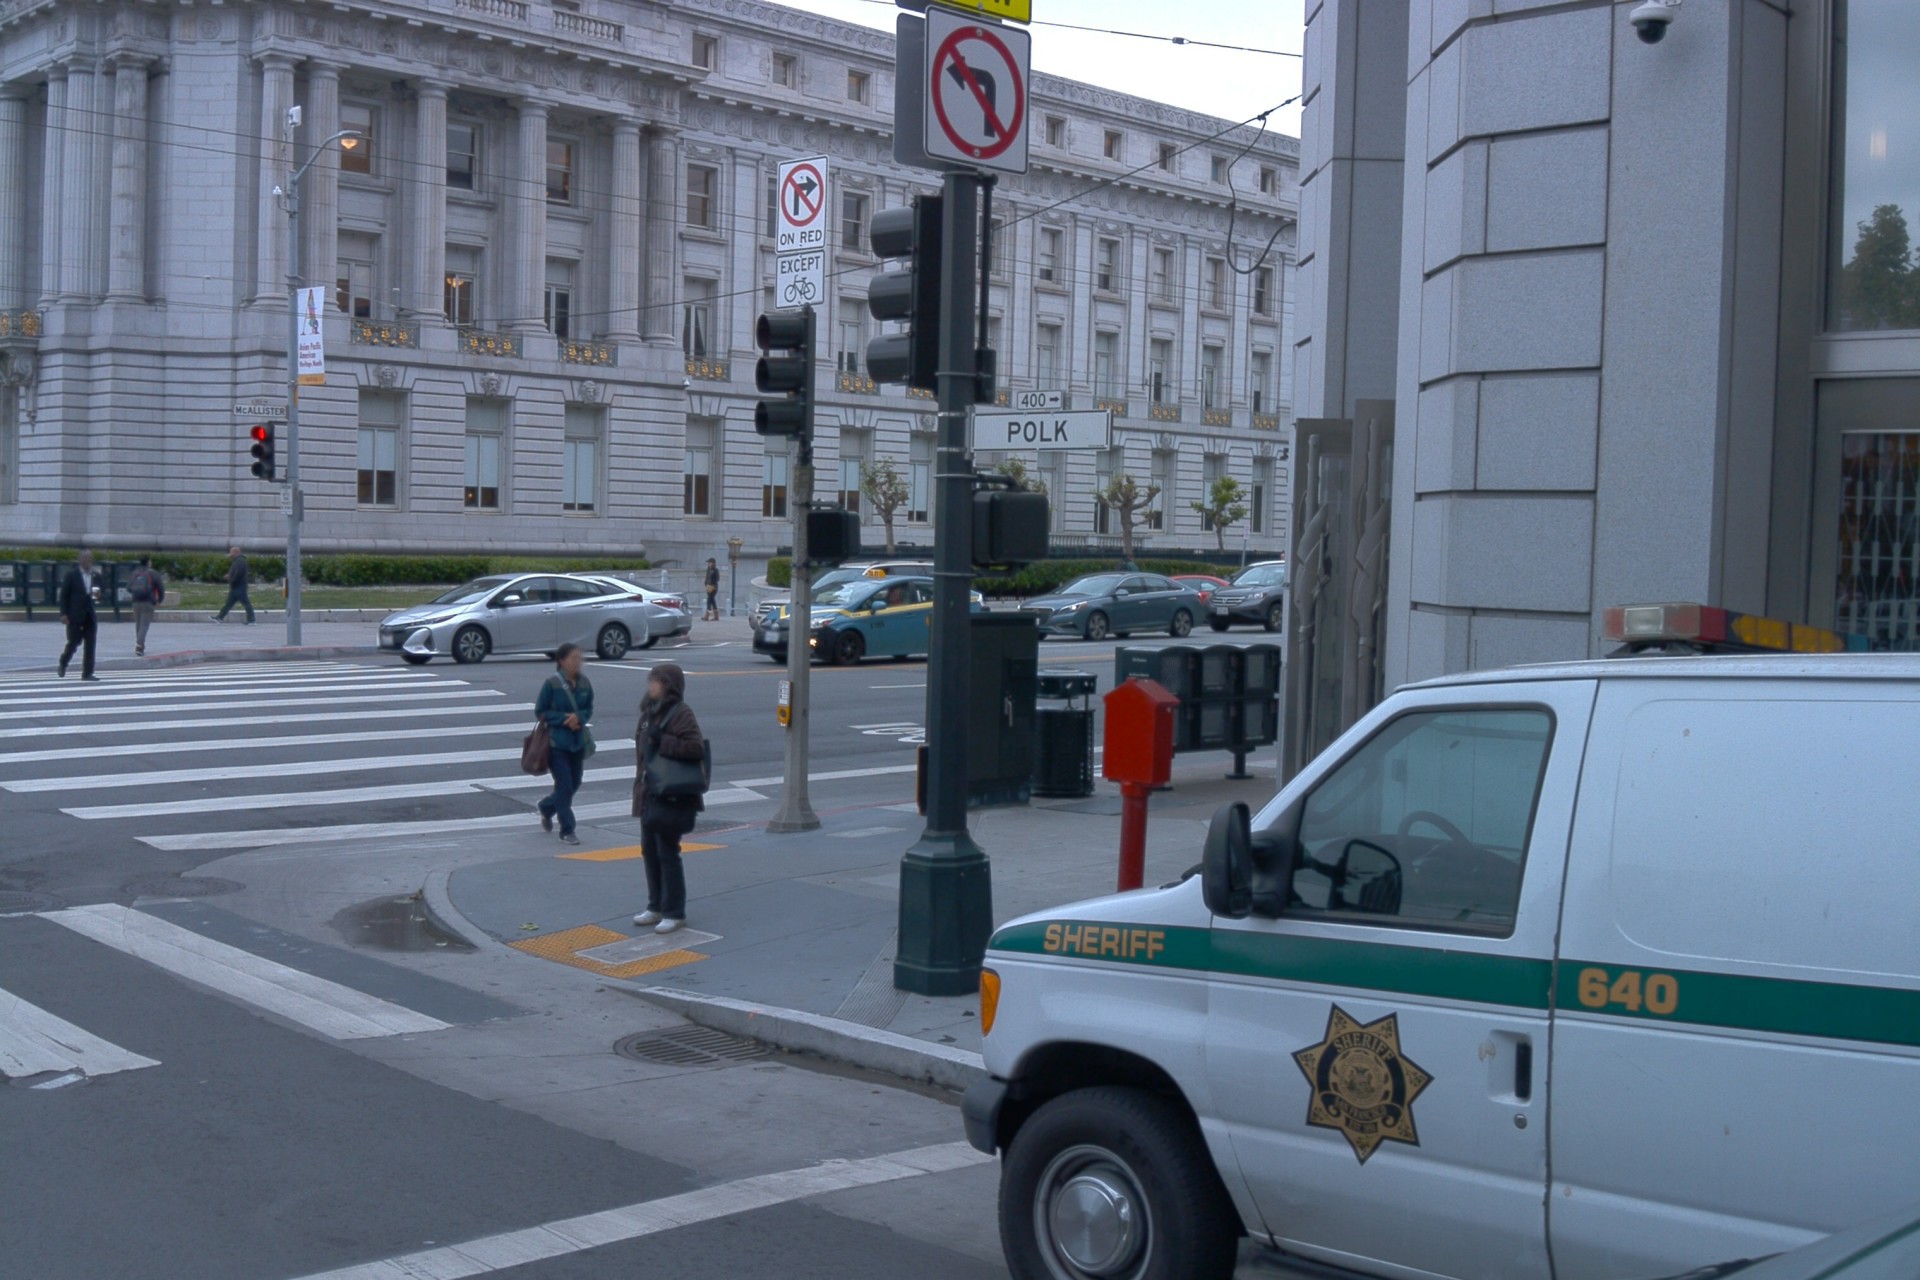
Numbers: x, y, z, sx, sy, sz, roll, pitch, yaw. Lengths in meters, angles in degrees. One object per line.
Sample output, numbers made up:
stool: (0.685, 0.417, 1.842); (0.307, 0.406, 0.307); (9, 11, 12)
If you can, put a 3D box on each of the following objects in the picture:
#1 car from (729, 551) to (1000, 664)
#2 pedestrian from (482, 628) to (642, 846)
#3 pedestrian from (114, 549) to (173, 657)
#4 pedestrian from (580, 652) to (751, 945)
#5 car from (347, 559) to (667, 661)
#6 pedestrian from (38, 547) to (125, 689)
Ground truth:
car: (-1.561, -0.531, 34.821); (2.040, 1.787, 4.328); (1, 1, 44)
pedestrian: (-3.215, 0.749, 16.673); (0.861, 1.690, 1.005); (-1, 1, -42)
pedestrian: (-14.156, -0.638, 35.828); (0.799, 1.850, 0.878); (0, 1, -10)
pedestrian: (-1.801, 0.935, 12.650); (0.805, 1.710, 0.666); (1, 1, 40)
car: (-7.315, -0.478, 33.694); (4.666, 1.540, 2.143); (-1, 1, -44)
pedestrian: (-11.764, -0.293, 27.650); (0.806, 1.850, 0.958); (-1, 1, -41)
